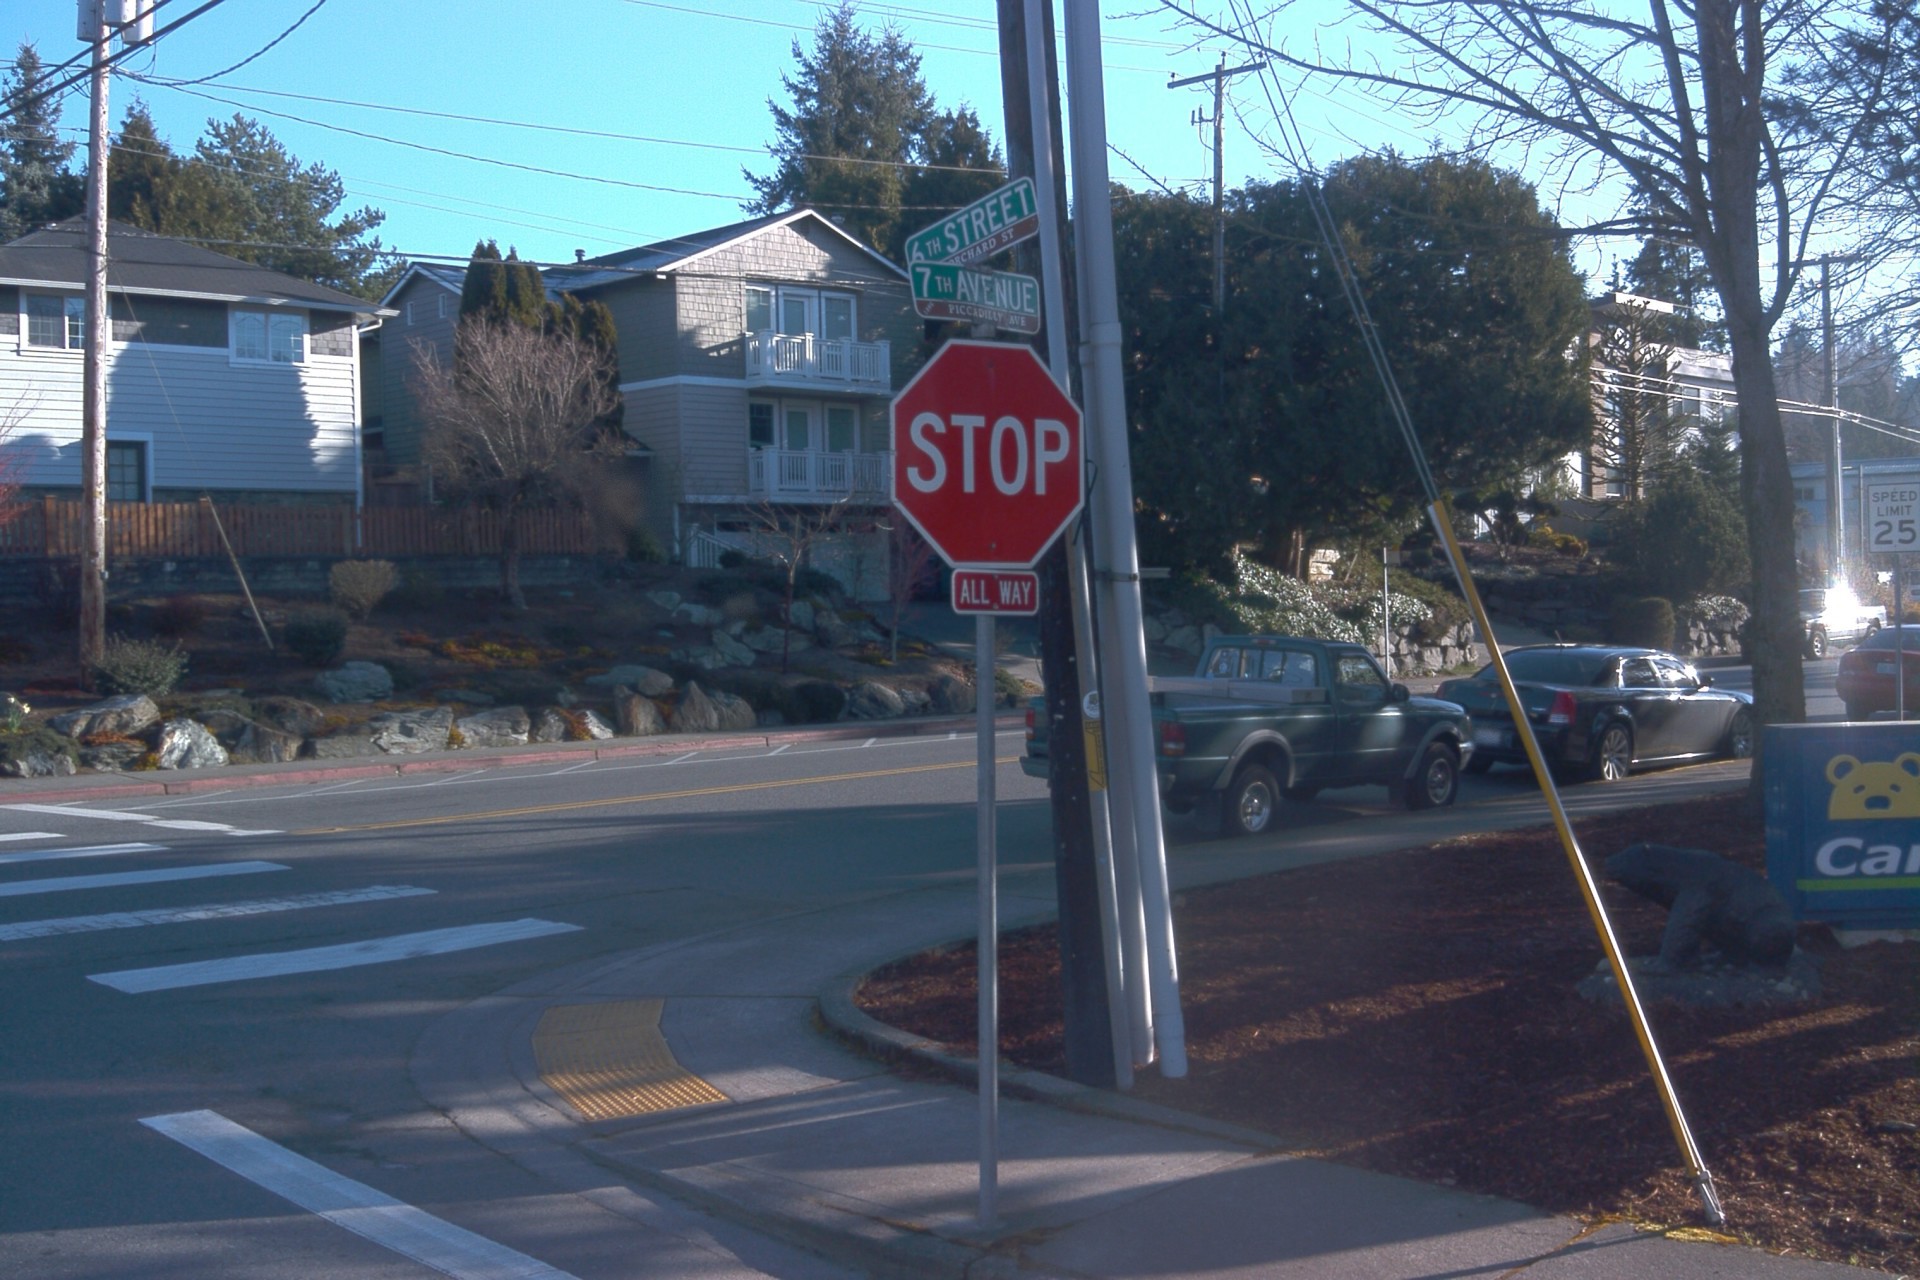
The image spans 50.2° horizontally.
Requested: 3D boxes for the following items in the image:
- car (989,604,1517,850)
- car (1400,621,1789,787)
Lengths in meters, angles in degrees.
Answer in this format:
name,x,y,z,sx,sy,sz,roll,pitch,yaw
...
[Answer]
name,x,y,z,sx,sy,sz,roll,pitch,yaw
car,2.791,0.668,18.559,2.128,1.920,5.099,1,1,44
car,7.227,0.633,23.034,4.858,1.660,2.112,0,1,-44
